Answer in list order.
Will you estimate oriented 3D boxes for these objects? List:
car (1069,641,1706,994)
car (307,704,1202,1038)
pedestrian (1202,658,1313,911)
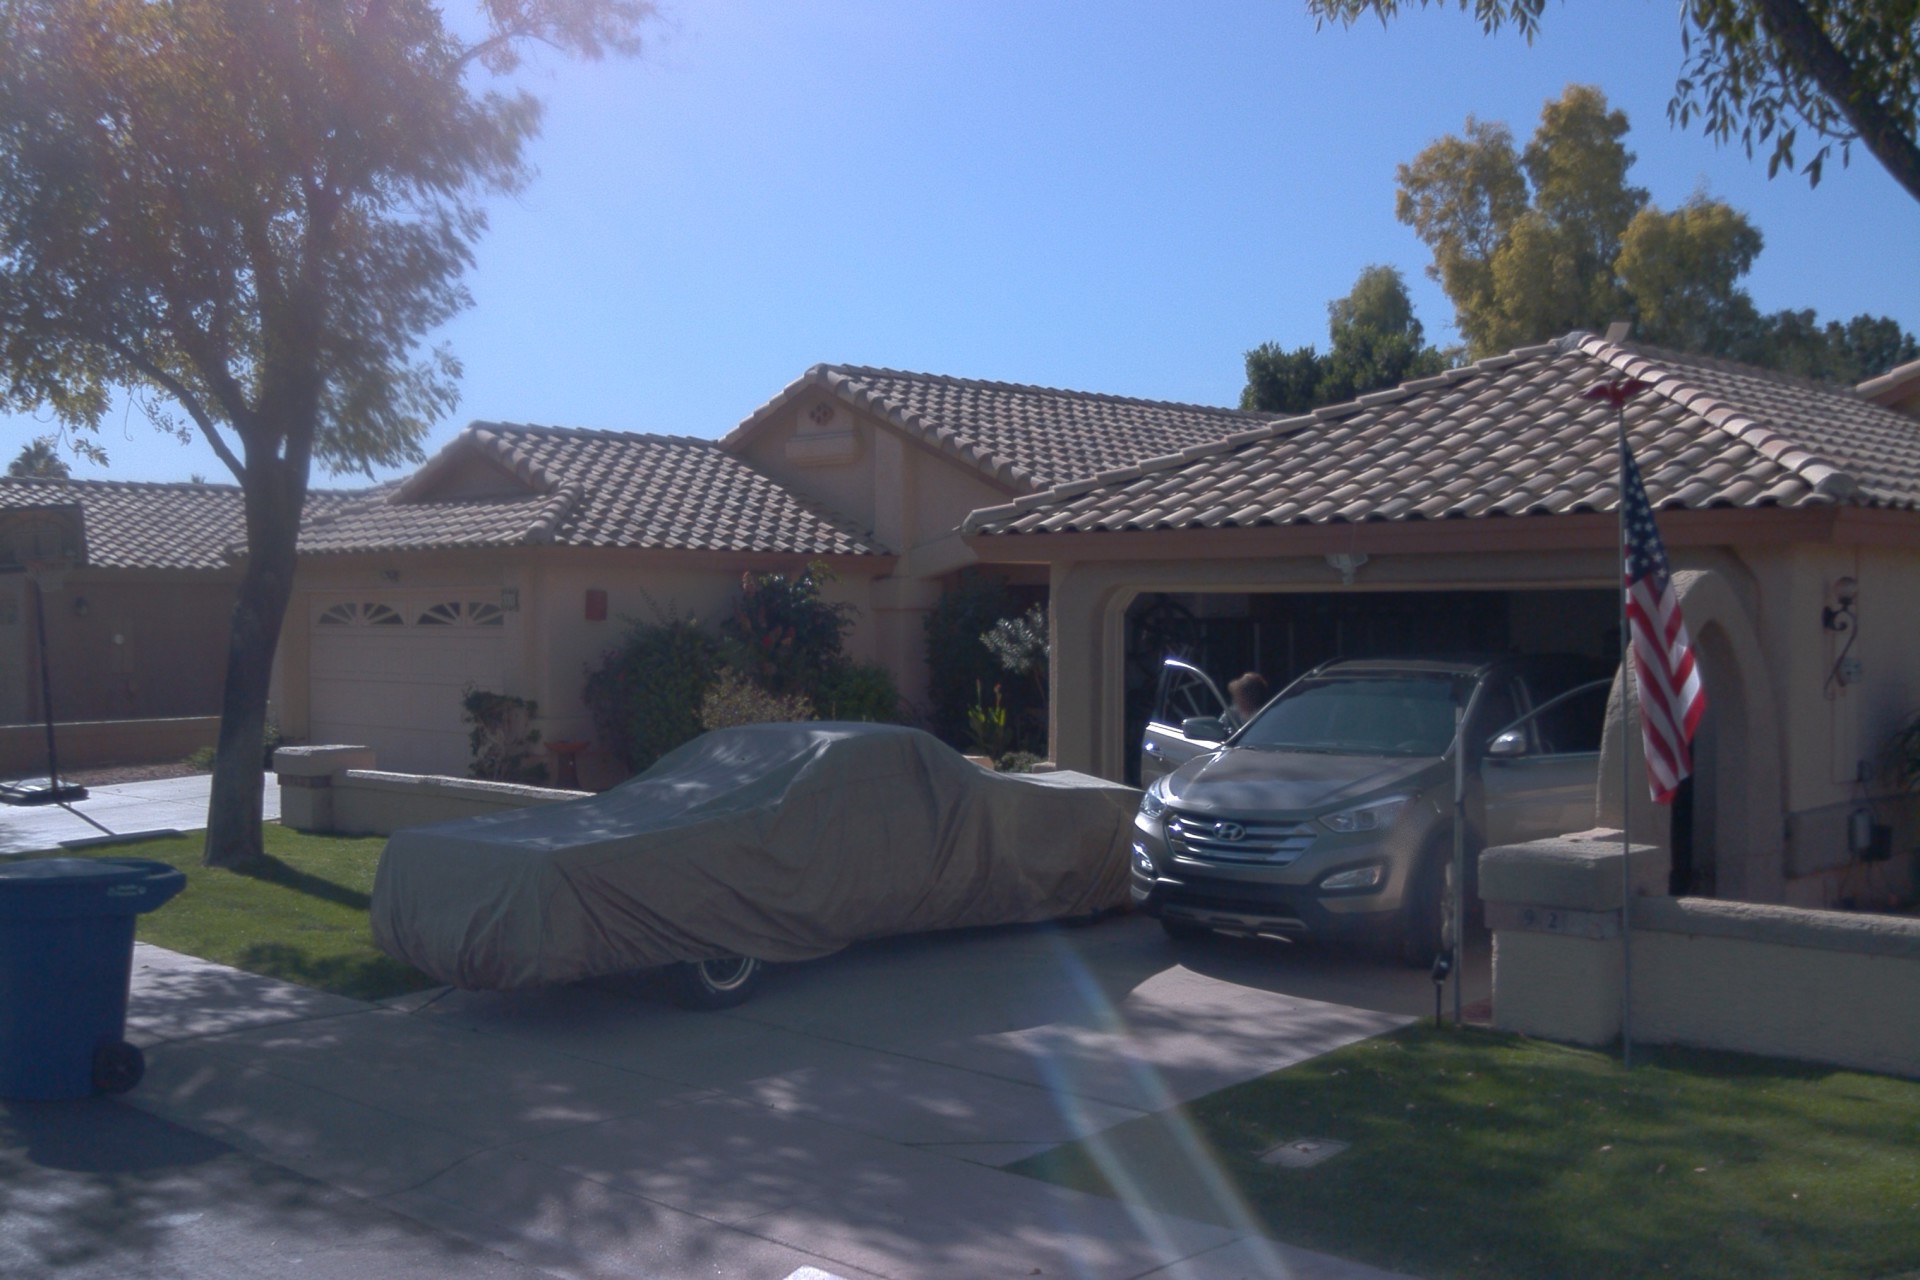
[{"bbox_3d":[2.861,0.935,13.188,1.985,1.820,4.531,0,0,40],"label":"car"},{"bbox_3d":[-1.012,1.198,12.697,5.261,1.490,2.098,1,0,-45],"label":"car"},{"bbox_3d":[1.969,0.940,13.916,0.655,1.630,0.711,0,0,3],"label":"pedestrian"}]
